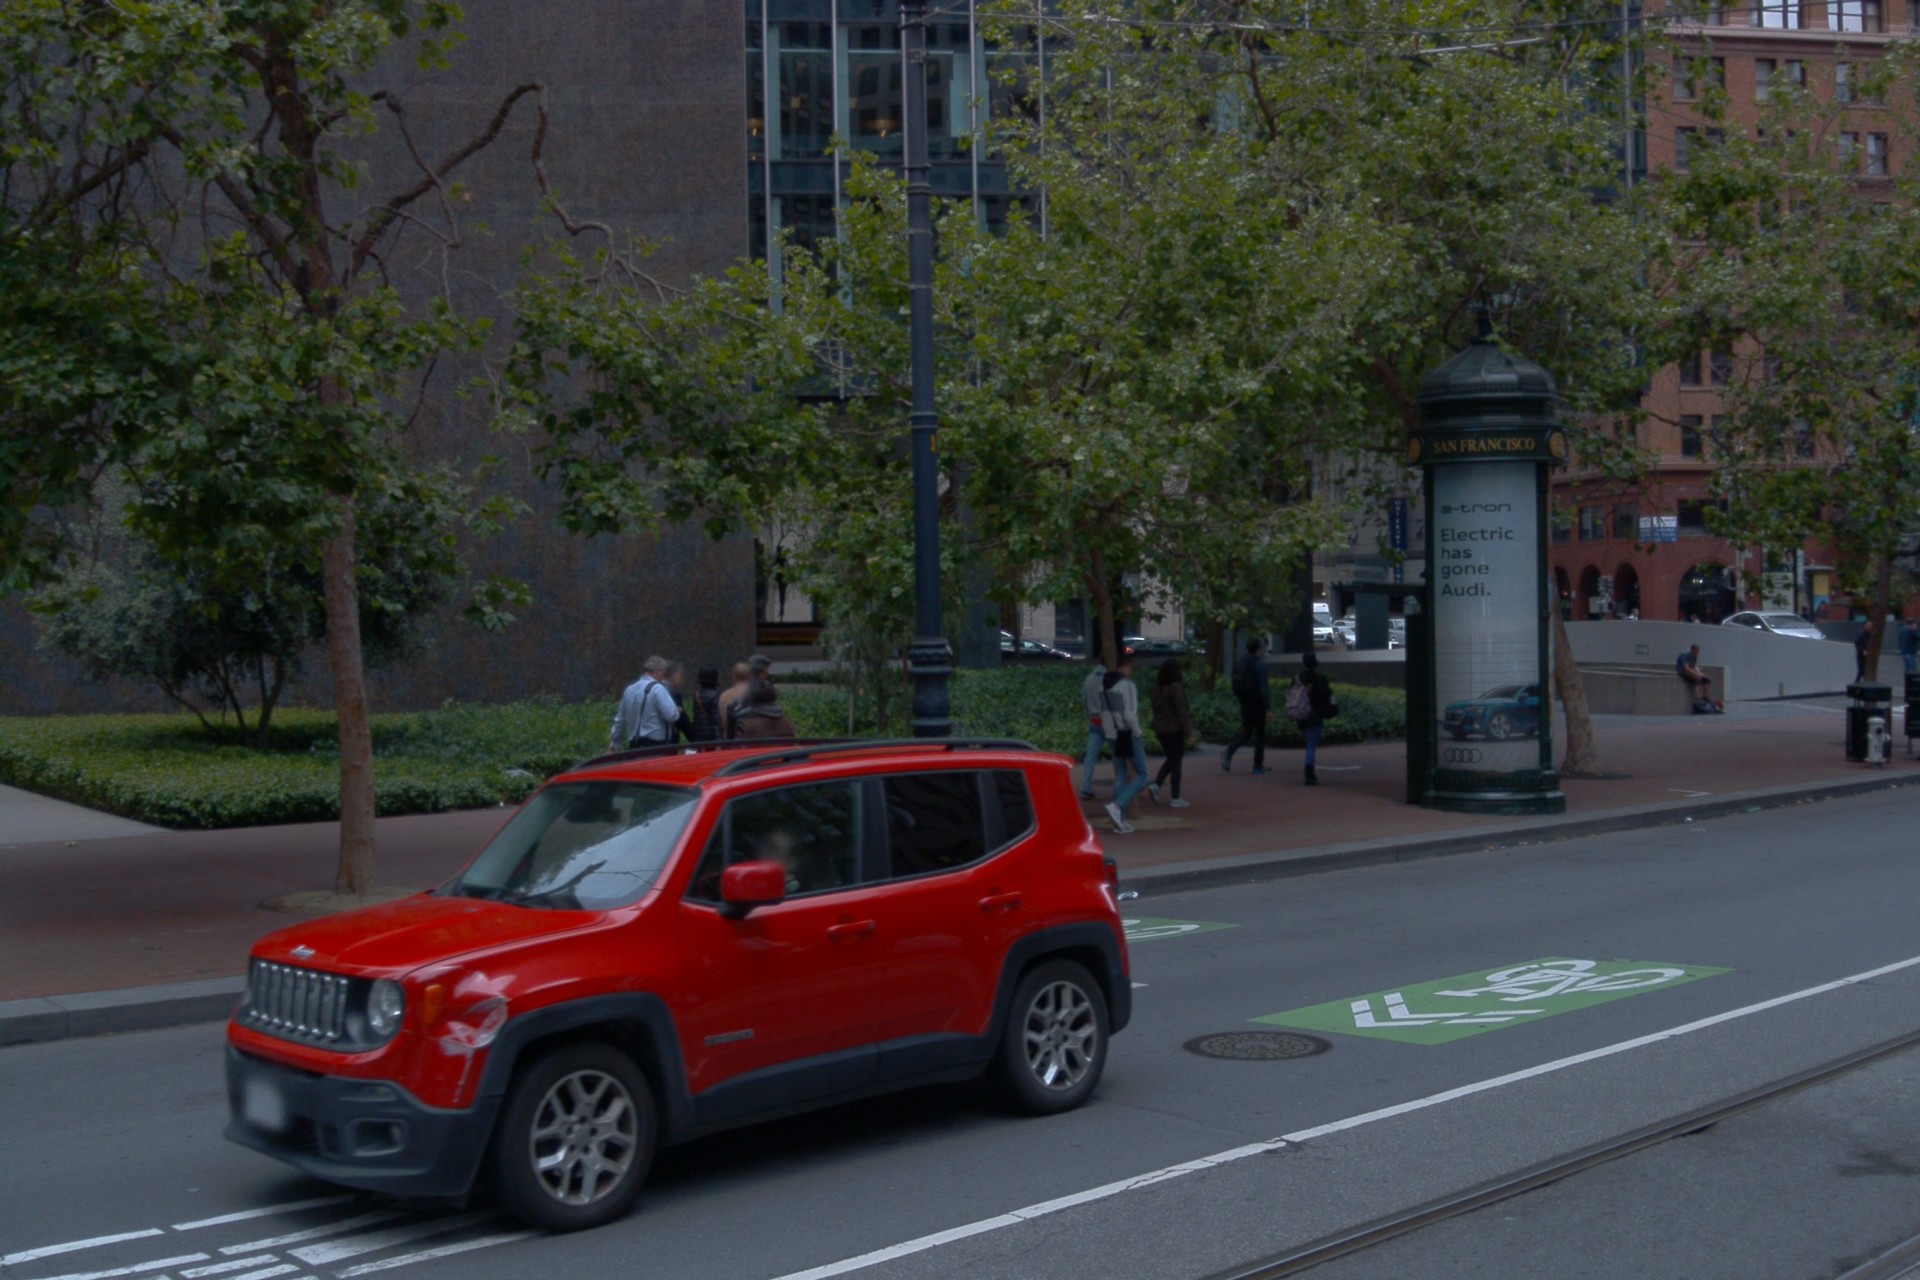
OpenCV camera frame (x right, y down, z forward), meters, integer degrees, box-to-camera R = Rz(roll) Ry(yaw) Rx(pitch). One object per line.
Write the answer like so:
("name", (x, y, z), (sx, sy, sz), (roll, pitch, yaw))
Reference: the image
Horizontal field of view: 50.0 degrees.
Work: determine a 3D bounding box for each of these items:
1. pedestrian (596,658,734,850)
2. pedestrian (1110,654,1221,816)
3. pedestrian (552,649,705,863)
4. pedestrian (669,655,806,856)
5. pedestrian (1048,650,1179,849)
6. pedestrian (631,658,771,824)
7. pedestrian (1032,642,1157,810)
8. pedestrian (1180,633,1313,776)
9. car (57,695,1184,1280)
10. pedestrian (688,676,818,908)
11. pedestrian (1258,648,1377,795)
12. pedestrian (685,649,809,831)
("pedestrian", (-2.897, 1.092, 20.231), (0.879, 1.800, 1.018), (1, 1, 44))
("pedestrian", (2.334, 1.058, 23.366), (1.016, 1.770, 0.768), (-1, 1, -43))
("pedestrian", (-3.087, 1.048, 19.185), (1.018, 1.900, 0.988), (-1, 1, -45))
("pedestrian", (-2.111, 1.070, 19.590), (0.731, 1.830, 1.081), (1, 1, 43))
("pedestrian", (1.553, 1.076, 20.765), (1.125, 1.920, 0.742), (-1, 1, -43))
("pedestrian", (-2.781, 1.054, 22.114), (1.179, 1.700, 0.923), (-1, 1, -41))
("pedestrian", (1.577, 0.976, 24.015), (1.189, 1.880, 0.885), (-1, 1, -45))
("pedestrian", (3.816, 0.828, 27.373), (1.362, 1.840, 1.138), (-1, 1, -40))
("car", (-1.205, 1.256, 8.467), (4.139, 1.890, 2.052), (-1, 1, -44))
("pedestrian", (-1.641, 1.180, 16.340), (0.638, 1.760, 0.795), (1, 1, 42))
("pedestrian", (4.508, 1.003, 25.958), (1.062, 1.770, 1.050), (-1, 1, -43))
("pedestrian", (-2.228, 1.016, 21.548), (0.886, 1.830, 0.940), (1, 1, 44))
